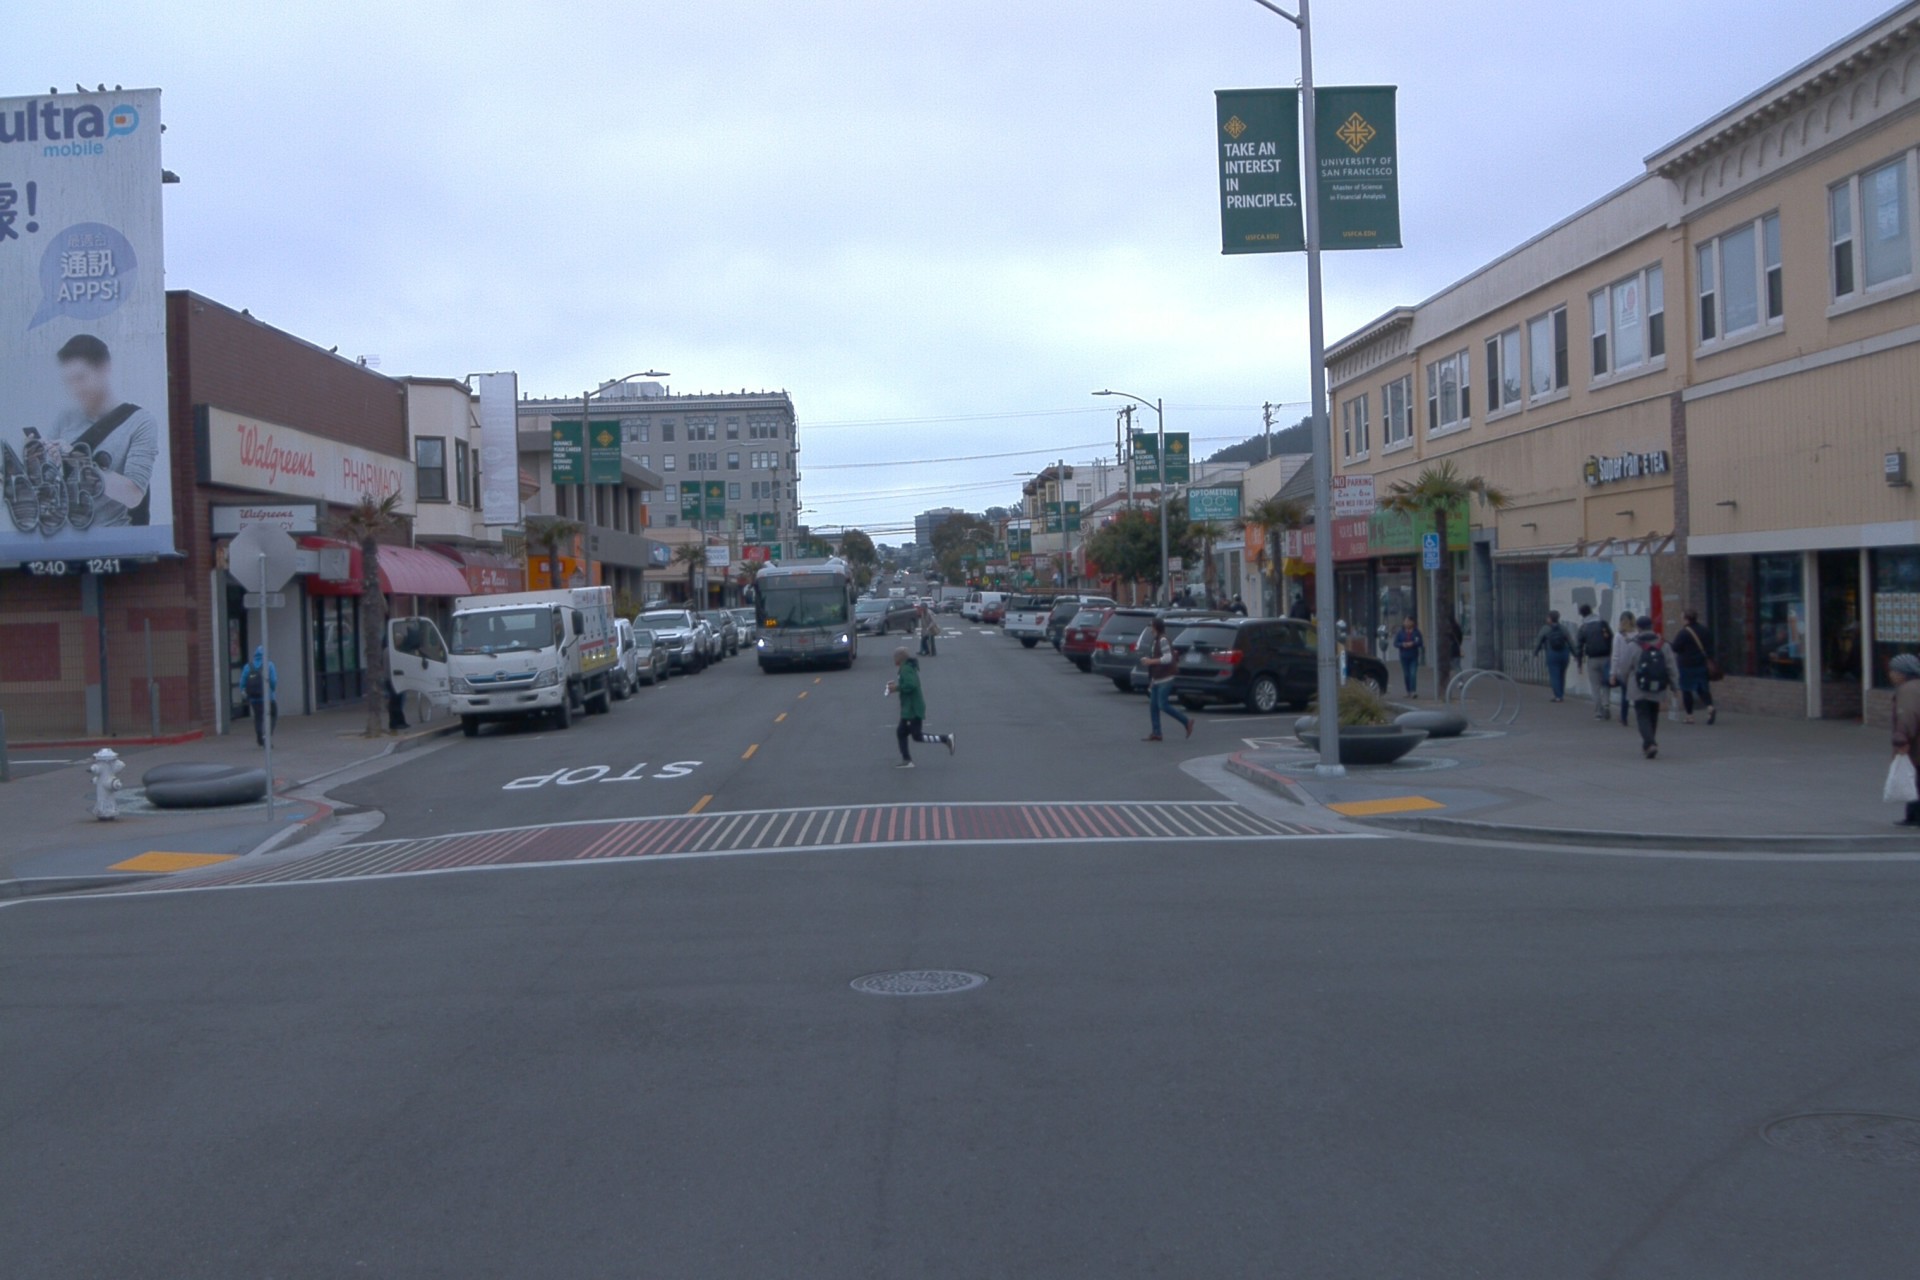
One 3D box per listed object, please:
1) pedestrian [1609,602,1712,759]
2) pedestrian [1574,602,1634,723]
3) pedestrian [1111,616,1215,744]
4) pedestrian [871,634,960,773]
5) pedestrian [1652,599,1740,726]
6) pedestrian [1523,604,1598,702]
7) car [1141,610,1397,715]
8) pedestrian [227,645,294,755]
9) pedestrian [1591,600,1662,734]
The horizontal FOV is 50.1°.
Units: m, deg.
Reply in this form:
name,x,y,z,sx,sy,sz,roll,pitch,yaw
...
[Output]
name,x,y,z,sx,sy,sz,roll,pitch,yaw
pedestrian,8.034,0.449,23.620,0.924,1.770,0.949,0,1,6
pedestrian,9.453,0.318,30.215,0.689,1.751,0.813,0,1,6
pedestrian,2.937,0.565,29.843,1.259,1.820,0.886,-1,1,-16
pedestrian,-0.550,0.784,25.861,1.102,1.713,0.767,0,1,0
pedestrian,10.228,0.300,28.596,0.952,1.742,0.808,0,1,2
pedestrian,10.272,0.209,35.199,1.000,1.650,1.000,0,1,2
car,5.588,0.352,36.907,4.510,1.740,2.044,-1,1,-39
pedestrian,-11.156,0.949,32.819,0.819,1.710,0.783,0,1,-3
pedestrian,9.234,0.360,28.506,0.711,1.824,0.916,0,1,2
